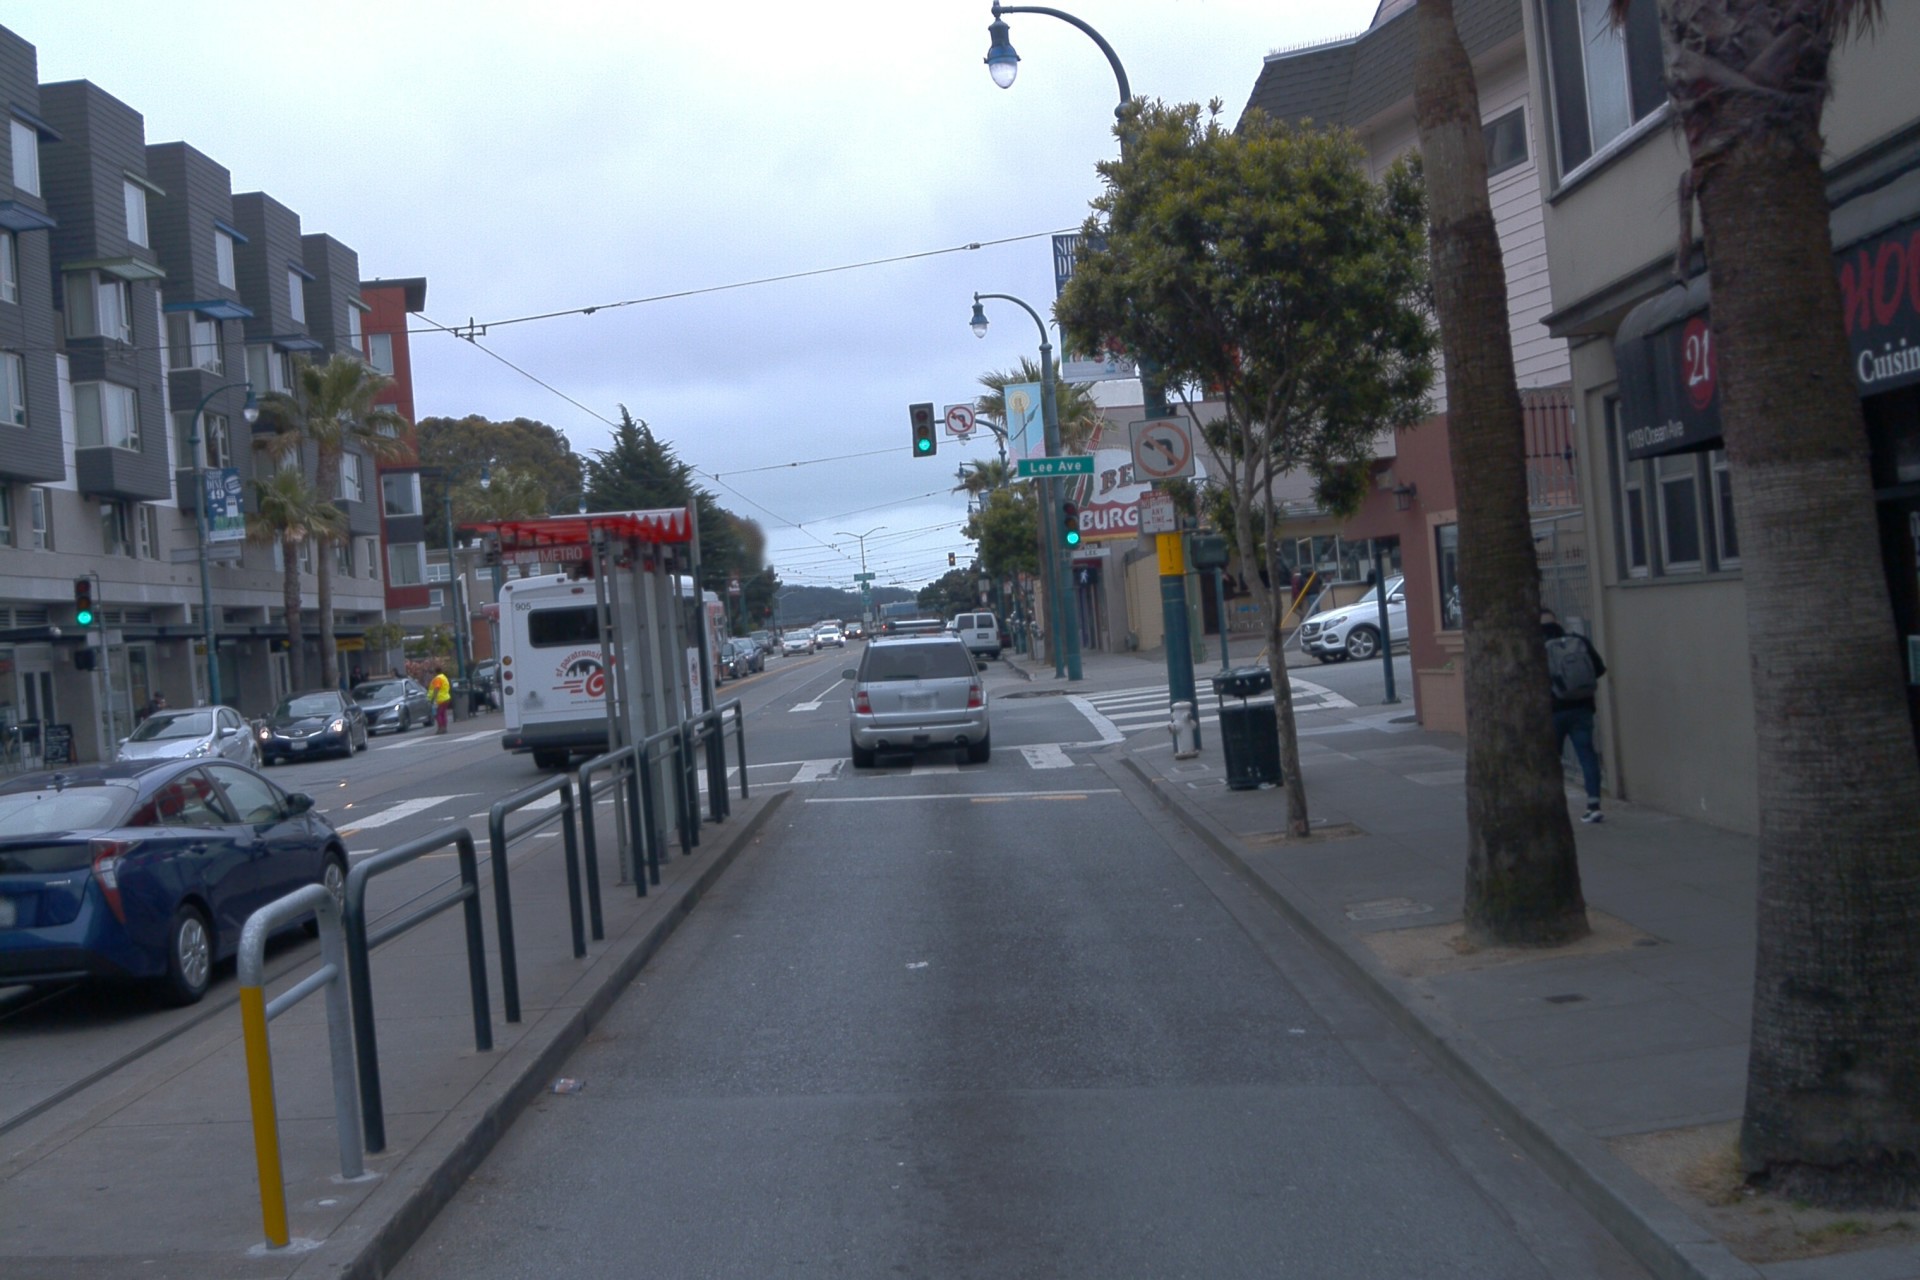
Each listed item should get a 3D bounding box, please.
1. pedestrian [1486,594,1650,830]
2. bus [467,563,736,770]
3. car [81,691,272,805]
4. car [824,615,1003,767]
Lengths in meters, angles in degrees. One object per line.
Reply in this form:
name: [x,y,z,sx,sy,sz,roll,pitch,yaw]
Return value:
pedestrian: [4.498,0.510,15.280,0.910,1.699,1.008,0,1,0]
bus: [-5.637,0.336,33.633,3.022,3.040,6.906,0,1,2]
car: [-13.174,1.773,34.843,2.091,1.640,4.001,0,1,-6]
car: [-0.644,0.632,28.597,2.303,1.940,4.182,0,1,-1]
